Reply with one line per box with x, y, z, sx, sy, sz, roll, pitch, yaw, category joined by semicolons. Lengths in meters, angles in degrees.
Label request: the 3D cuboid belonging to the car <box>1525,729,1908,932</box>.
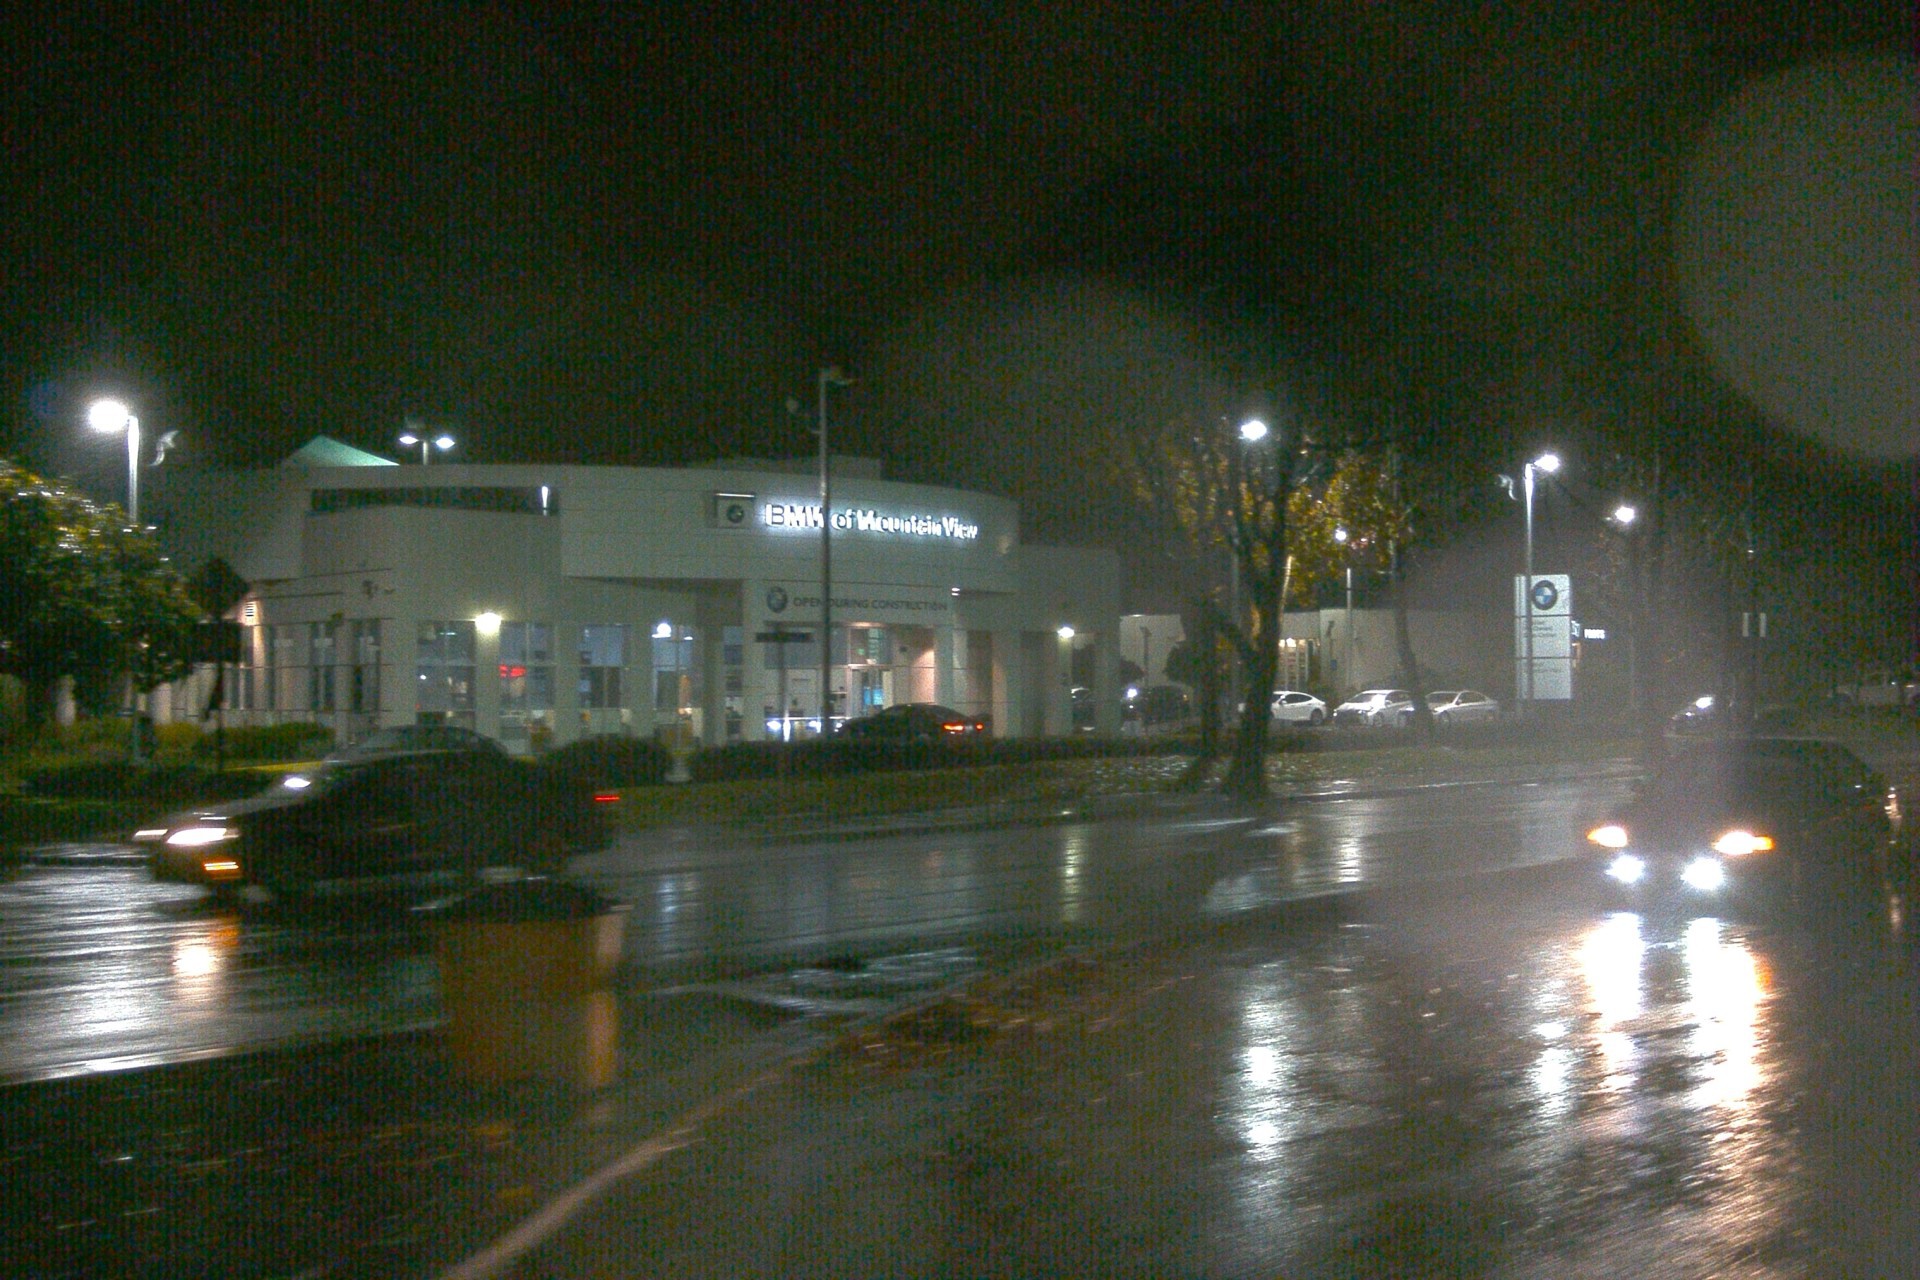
6.908;1.600;18.819;1.911;1.440;4.340;0;0;39;car

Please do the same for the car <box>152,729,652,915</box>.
-5.933;1.862;22.625;4.791;1.638;2.104;1;0;-43;car
